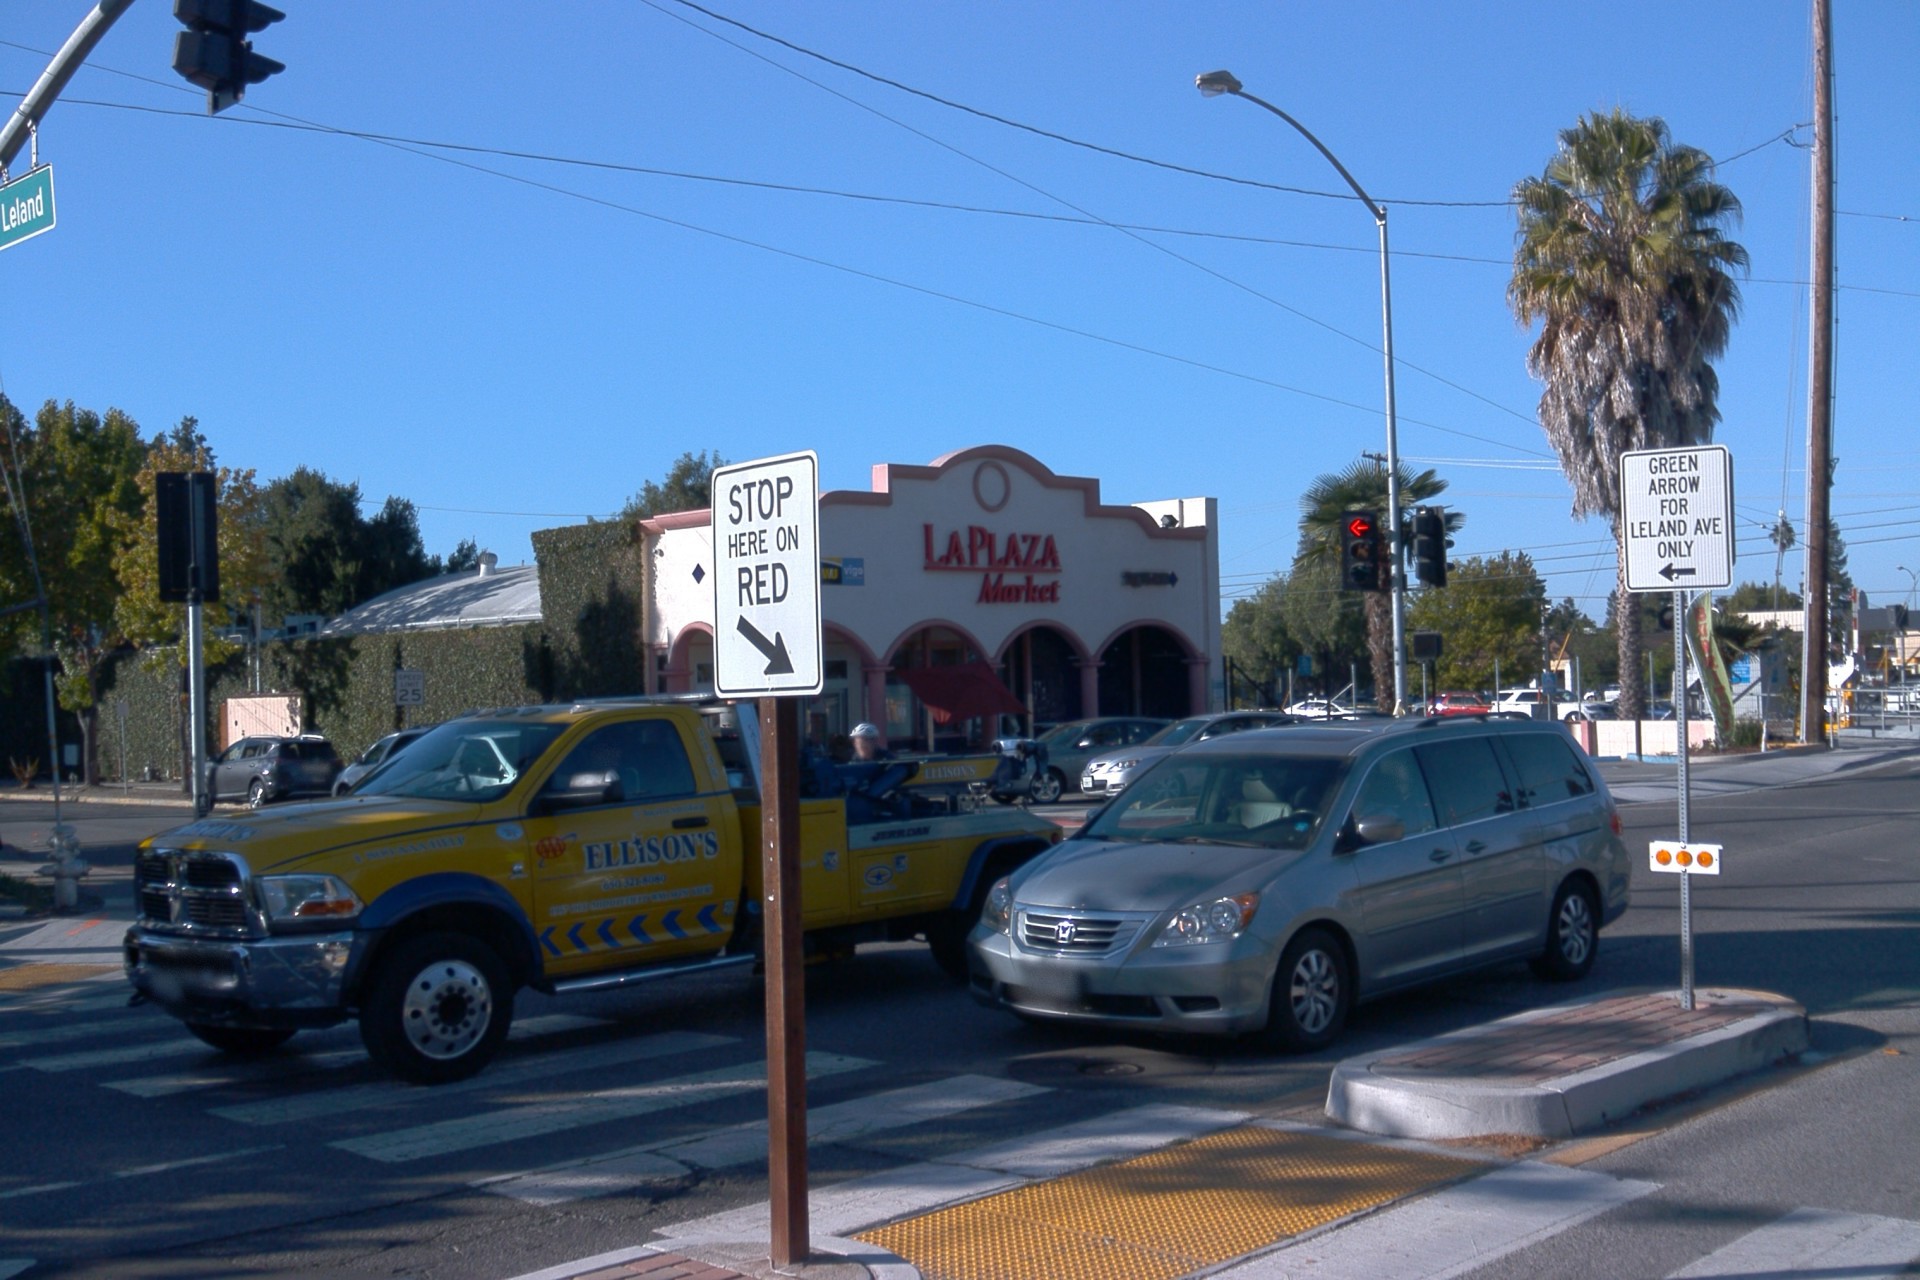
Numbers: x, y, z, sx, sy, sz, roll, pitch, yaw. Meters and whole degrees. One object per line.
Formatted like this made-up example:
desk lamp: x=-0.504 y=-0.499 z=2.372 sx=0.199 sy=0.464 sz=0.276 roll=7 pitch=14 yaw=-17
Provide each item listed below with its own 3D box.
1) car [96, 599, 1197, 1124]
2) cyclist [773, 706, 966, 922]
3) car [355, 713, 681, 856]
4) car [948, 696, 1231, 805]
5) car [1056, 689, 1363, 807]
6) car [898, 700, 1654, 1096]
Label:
car: x=-1.610 y=1.110 z=13.655 sx=2.619 sy=2.570 sz=7.051 roll=0 pitch=-1 yaw=43
cyclist: x=-0.819 y=1.565 z=19.254 sx=0.698 sy=1.860 sz=1.802 roll=0 pitch=-1 yaw=43
car: x=-6.346 y=1.966 z=29.485 sx=4.949 sy=1.710 sz=2.120 roll=0 pitch=-1 yaw=44
car: x=2.288 y=1.891 z=36.544 sx=4.565 sy=1.760 sz=2.047 roll=0 pitch=0 yaw=-28
car: x=4.107 y=1.723 z=34.199 sx=4.646 sy=1.780 sz=2.014 roll=0 pitch=0 yaw=-23
car: x=2.182 y=1.358 z=12.963 sx=2.187 sy=1.860 sz=5.098 roll=0 pitch=-1 yaw=42
